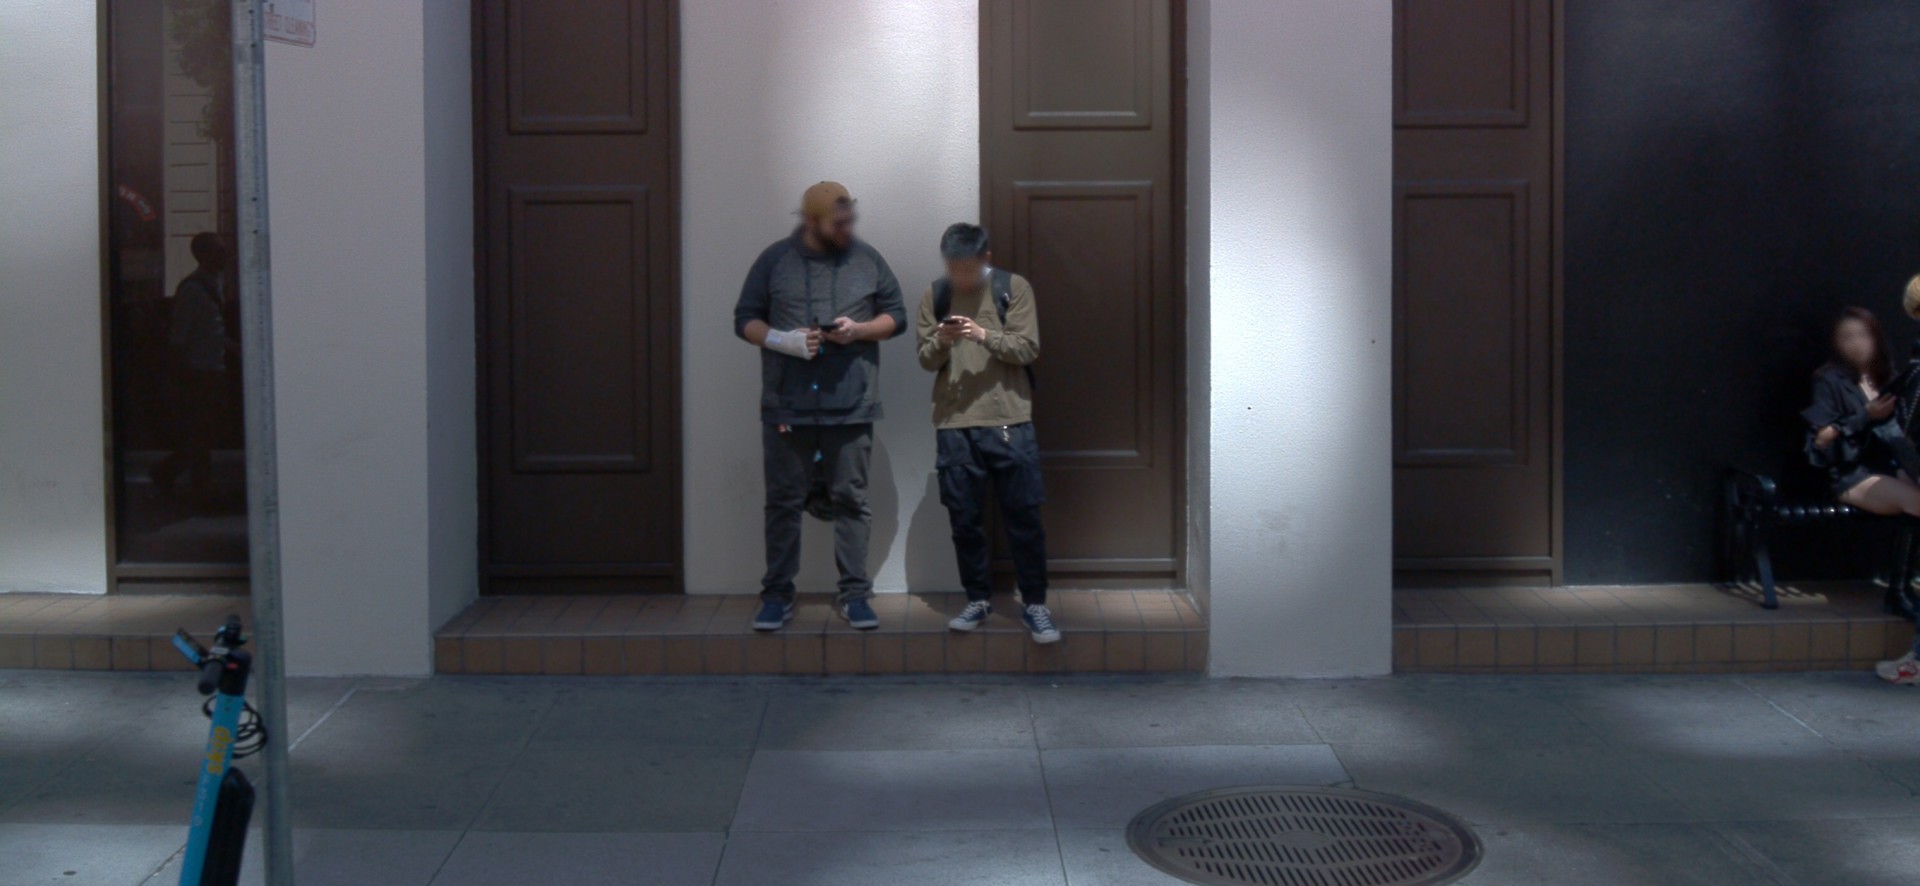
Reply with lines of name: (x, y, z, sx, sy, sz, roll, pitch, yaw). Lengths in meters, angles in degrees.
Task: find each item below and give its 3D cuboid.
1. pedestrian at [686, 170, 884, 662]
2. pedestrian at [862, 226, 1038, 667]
pedestrian: (-0.711, -0.150, 8.585, 0.770, 1.952, 0.854, 0, 1, -1)
pedestrian: (-0.048, -0.029, 8.549, 0.697, 1.743, 0.833, 0, 1, -1)
